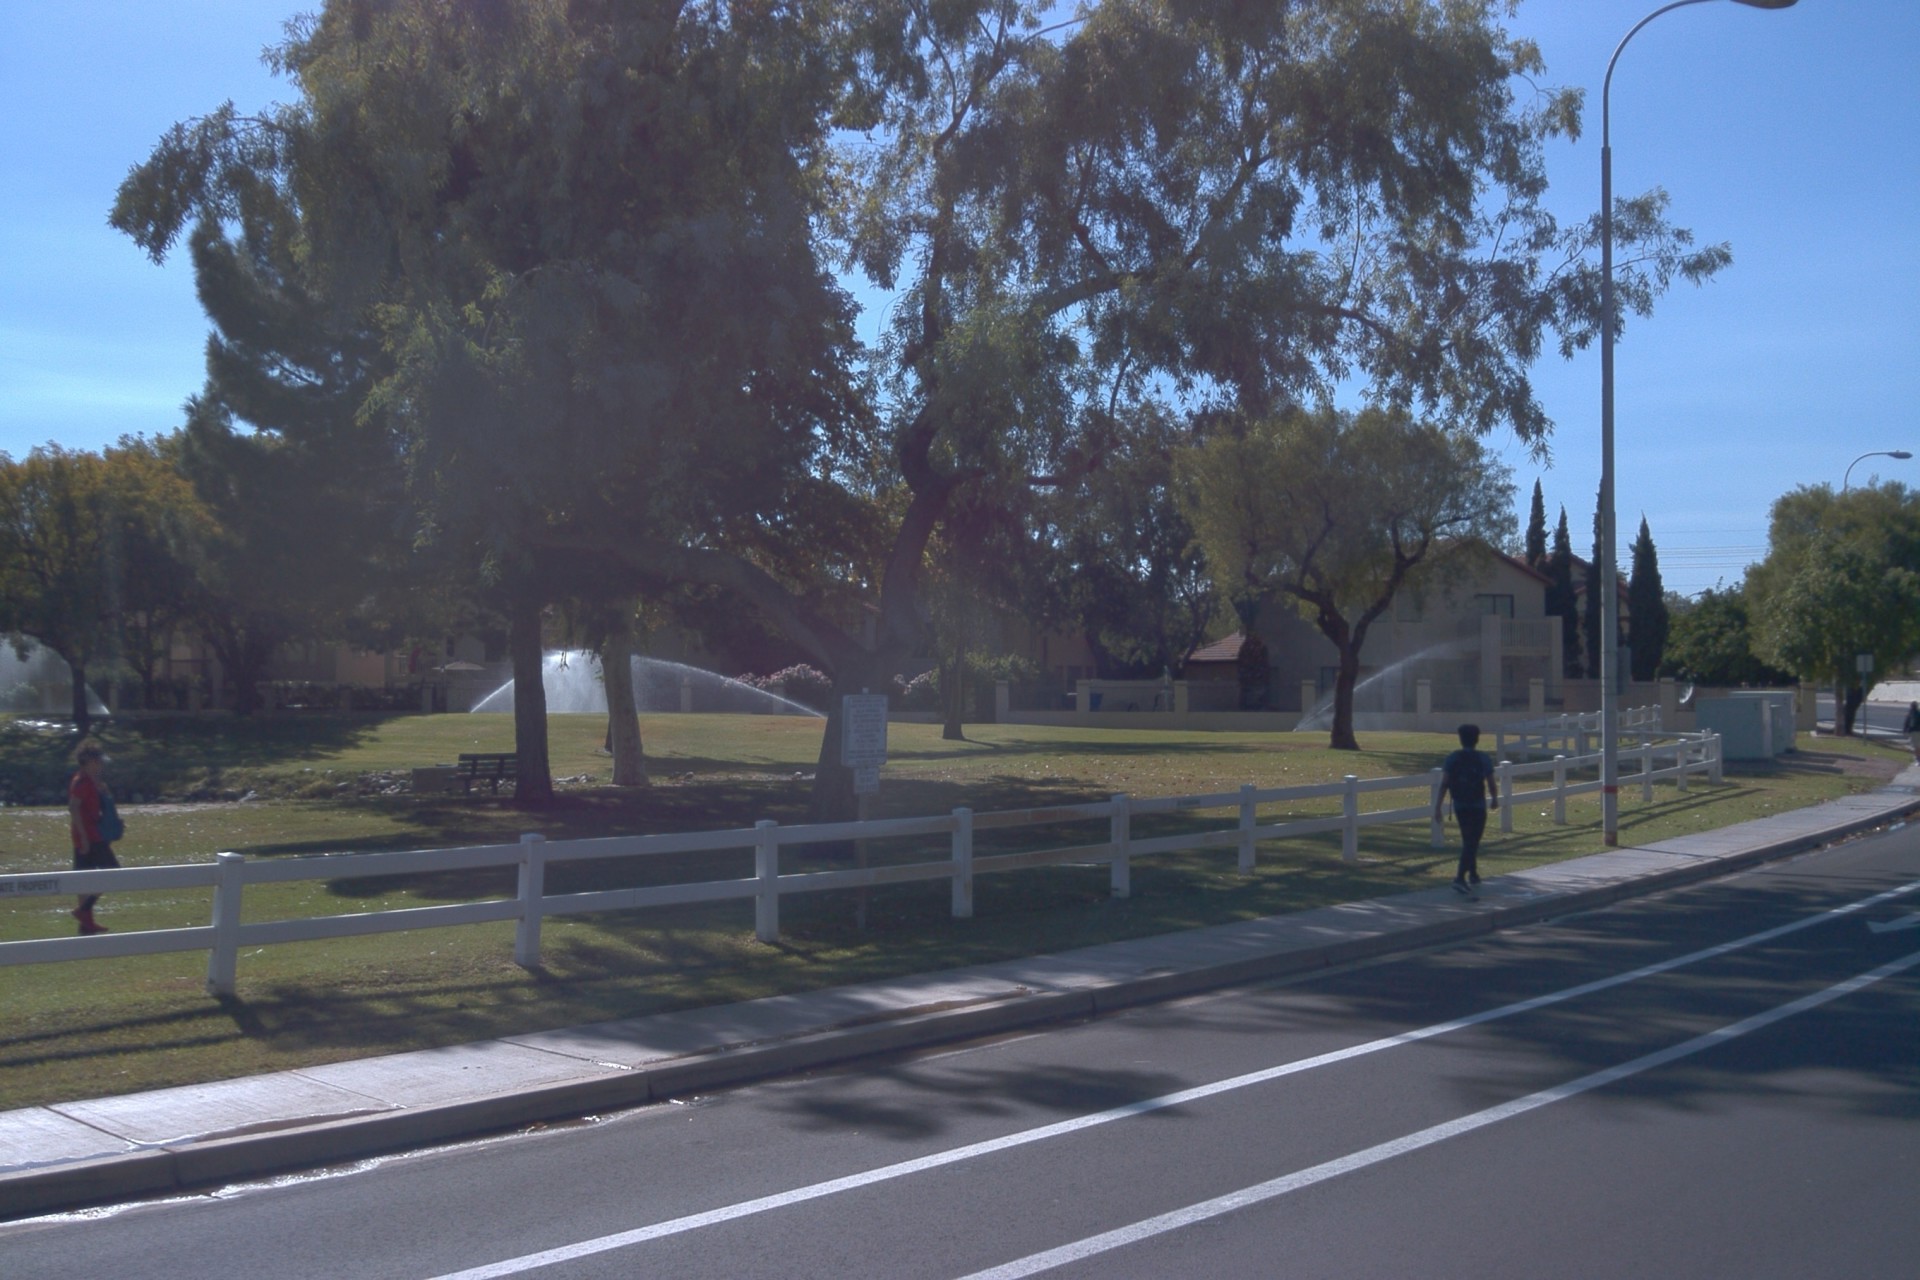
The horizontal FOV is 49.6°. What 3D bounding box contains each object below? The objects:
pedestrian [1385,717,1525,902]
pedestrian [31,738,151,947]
[{"bbox_3d":[4.985,1.677,20.924,0.985,1.760,1.031,0,-1,41],"label":"pedestrian"},{"bbox_3d":[-7.663,1.751,18.301,0.901,1.734,0.996,1,-1,-25],"label":"pedestrian"}]
